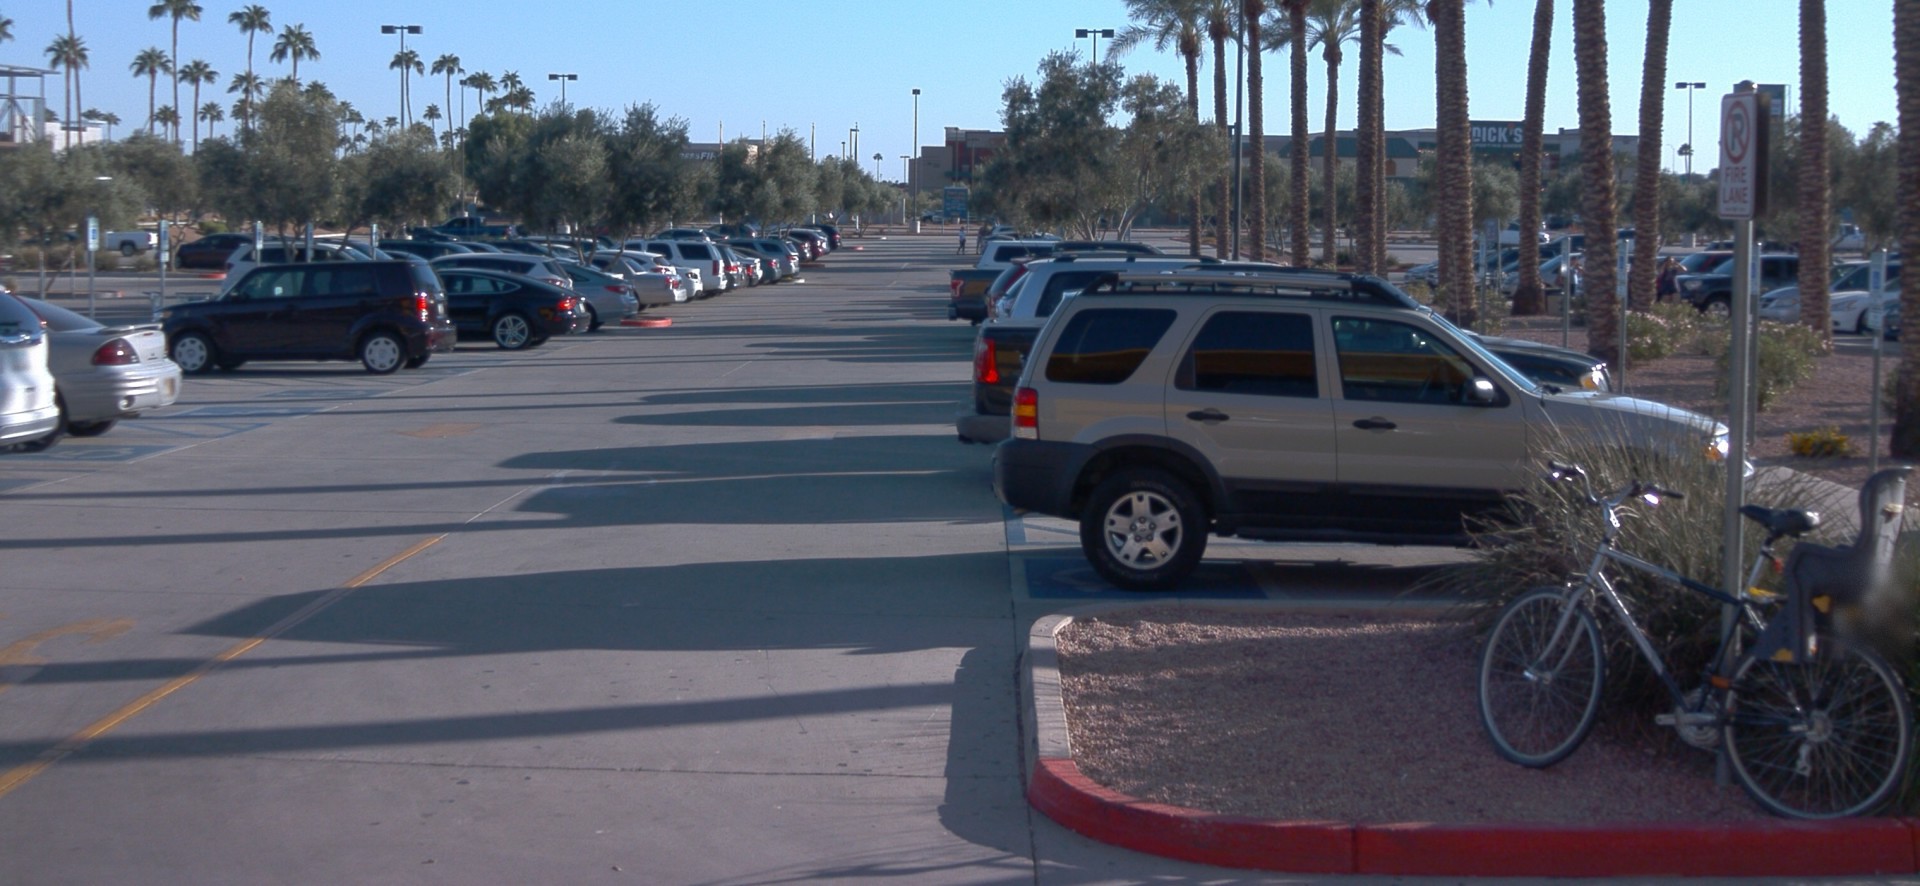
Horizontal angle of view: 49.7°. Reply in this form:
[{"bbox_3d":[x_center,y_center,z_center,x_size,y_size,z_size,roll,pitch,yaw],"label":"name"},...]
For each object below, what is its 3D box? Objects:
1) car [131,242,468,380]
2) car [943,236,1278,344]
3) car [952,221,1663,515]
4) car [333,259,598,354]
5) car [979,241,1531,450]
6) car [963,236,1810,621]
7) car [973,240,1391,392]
[{"bbox_3d":[-9.306,-1.905,29.479,4.169,1.816,1.897,1,3,-2],"label":"car"},{"bbox_3d":[2.743,-2.914,39.074,6.084,1.845,2.452,1,4,-1],"label":"car"},{"bbox_3d":[2.657,-0.692,16.886,5.349,2.135,2.267,1,4,1],"label":"car"},{"bbox_3d":[-8.563,-2.406,36.209,4.169,1.516,1.898,1,4,-2],"label":"car"},{"bbox_3d":[2.725,-1.003,19.927,4.916,1.765,2.428,1,4,4],"label":"car"},{"bbox_3d":[2.432,-0.206,12.465,4.569,1.986,2.008,2,3,7],"label":"car"},{"bbox_3d":[2.742,-1.659,26.499,5.084,1.755,2.150,1,4,1],"label":"car"}]
